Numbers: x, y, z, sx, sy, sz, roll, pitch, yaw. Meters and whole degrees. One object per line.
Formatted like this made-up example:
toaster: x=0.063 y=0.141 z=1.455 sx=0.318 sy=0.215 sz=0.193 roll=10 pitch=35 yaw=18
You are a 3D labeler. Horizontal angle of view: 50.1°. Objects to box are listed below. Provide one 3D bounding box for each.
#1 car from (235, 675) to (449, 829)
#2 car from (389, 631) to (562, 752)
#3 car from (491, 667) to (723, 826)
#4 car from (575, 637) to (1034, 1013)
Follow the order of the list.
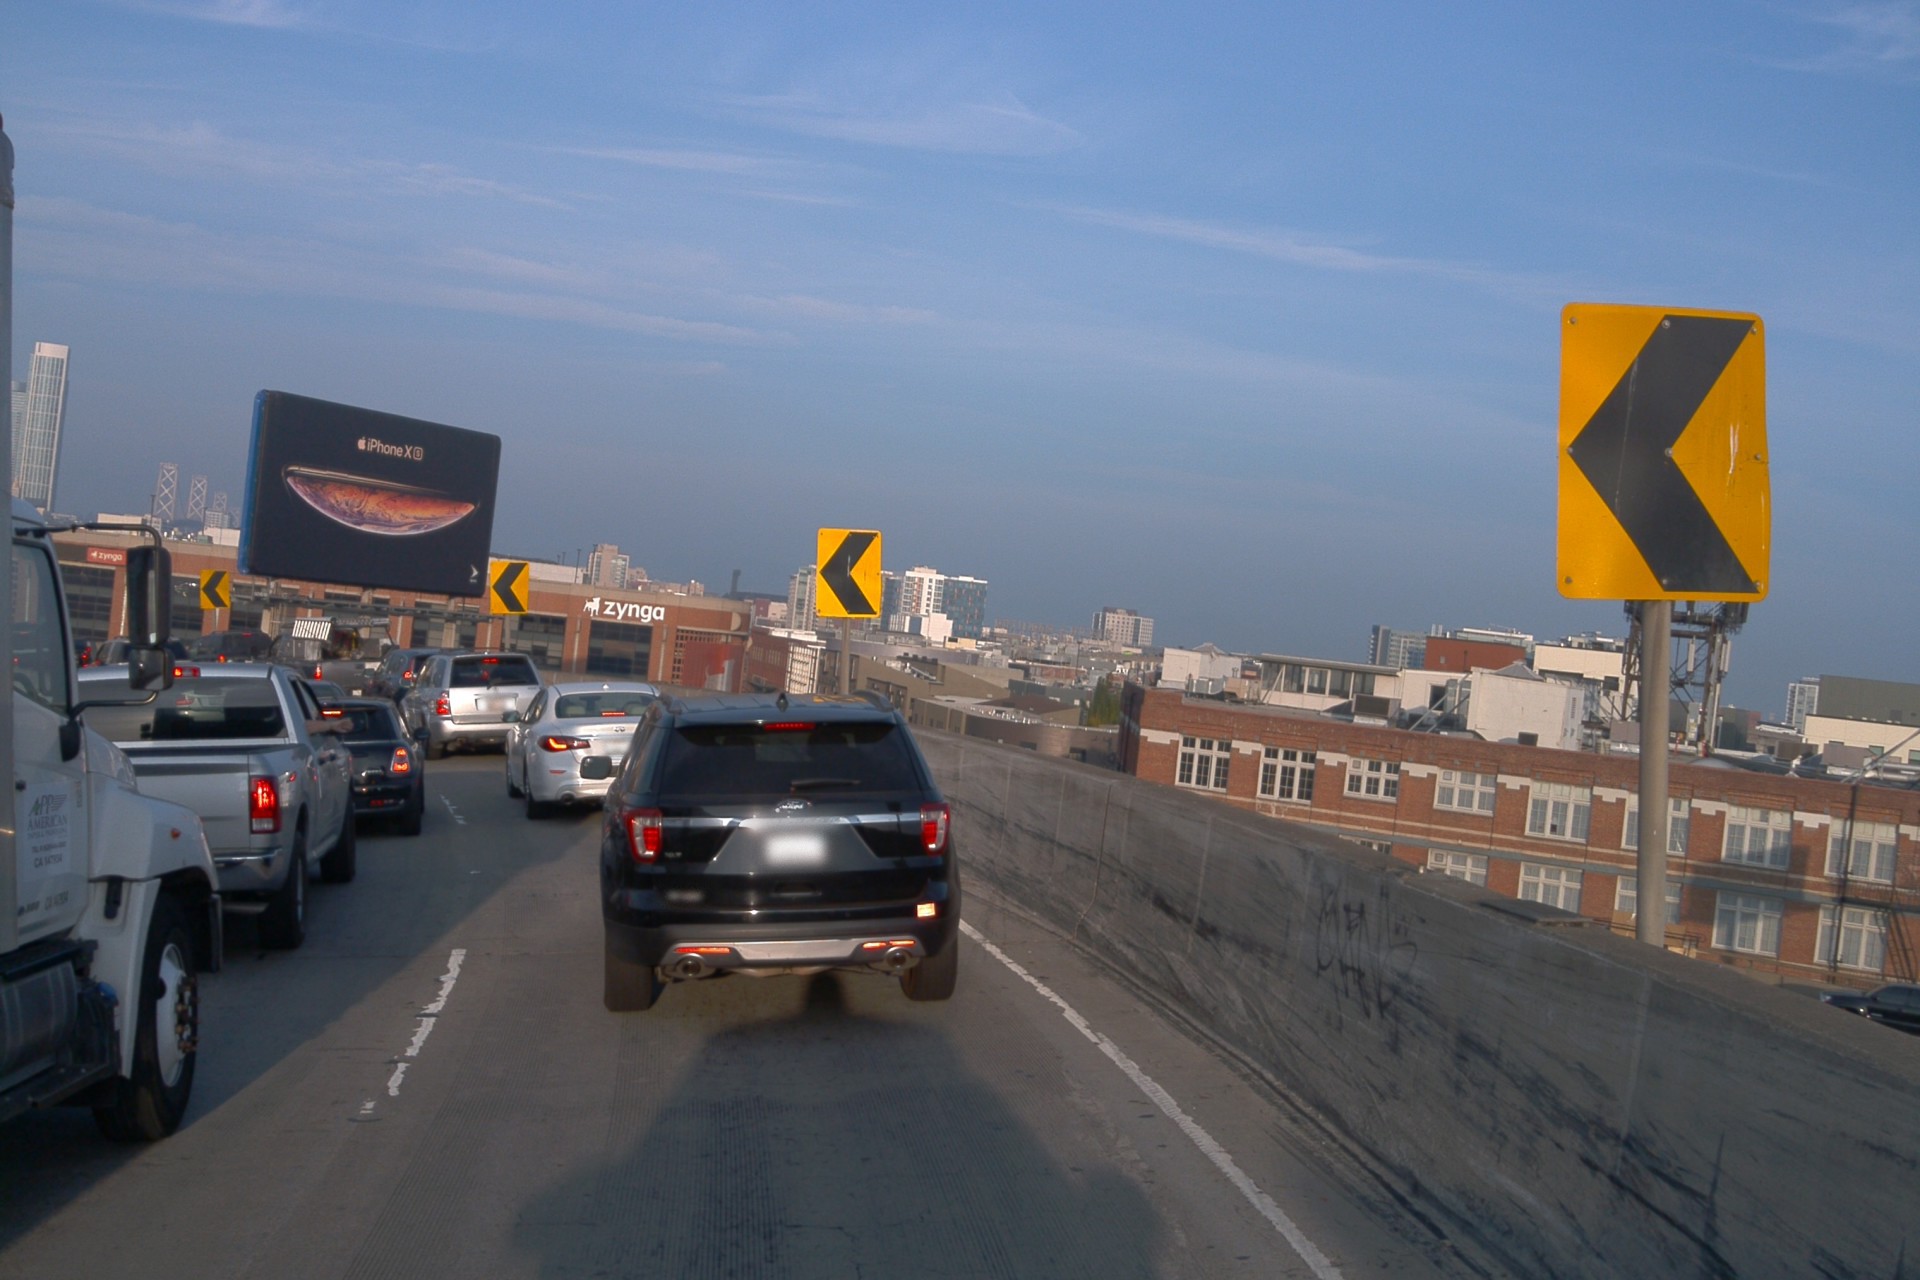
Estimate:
car: x=-6.568 y=1.130 z=22.194 sx=1.934 sy=1.411 sz=4.084 roll=0 pitch=0 yaw=-13
car: x=-7.937 y=0.769 z=33.352 sx=1.992 sy=1.820 sz=4.393 roll=0 pitch=0 yaw=-23
car: x=-4.240 y=1.152 z=24.032 sx=2.144 sy=1.590 sz=4.509 roll=0 pitch=0 yaw=-17
car: x=-1.214 y=0.918 z=12.818 sx=2.327 sy=1.850 sz=4.876 roll=0 pitch=0 yaw=-11
